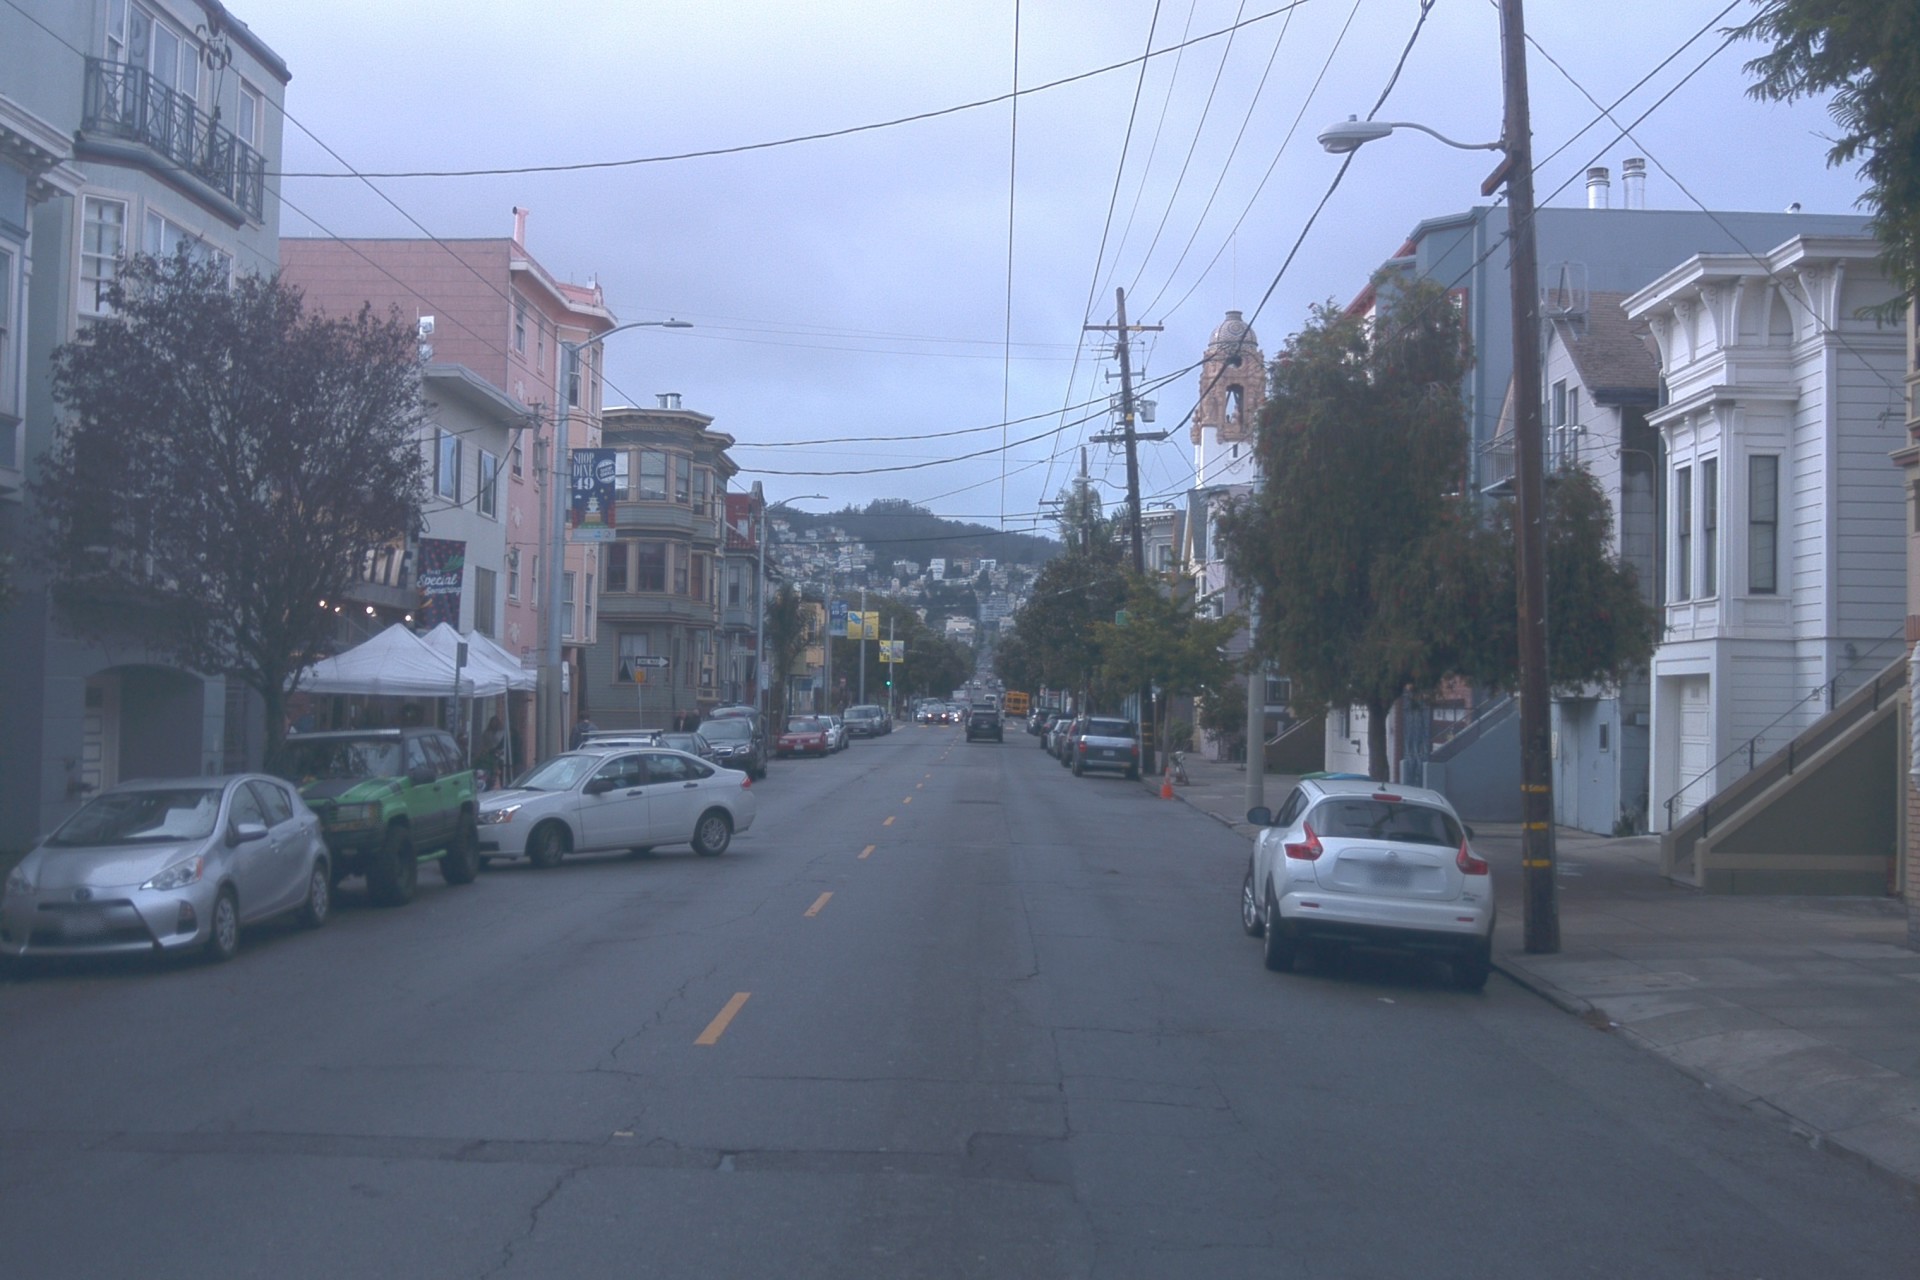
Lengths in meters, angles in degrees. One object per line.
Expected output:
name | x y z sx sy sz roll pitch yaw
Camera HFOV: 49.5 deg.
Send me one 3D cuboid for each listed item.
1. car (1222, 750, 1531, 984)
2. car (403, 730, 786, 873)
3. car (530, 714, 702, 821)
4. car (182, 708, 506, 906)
car | 3.453 1.845 18.057 2.029 1.650 4.143 1 -2 3
car | -4.643 2.013 26.985 2.015 1.640 4.530 0 -2 43
car | -5.980 2.193 36.825 2.138 1.700 4.740 1 -2 1
car | -6.377 1.669 22.187 2.012 1.830 4.572 1 -2 1
